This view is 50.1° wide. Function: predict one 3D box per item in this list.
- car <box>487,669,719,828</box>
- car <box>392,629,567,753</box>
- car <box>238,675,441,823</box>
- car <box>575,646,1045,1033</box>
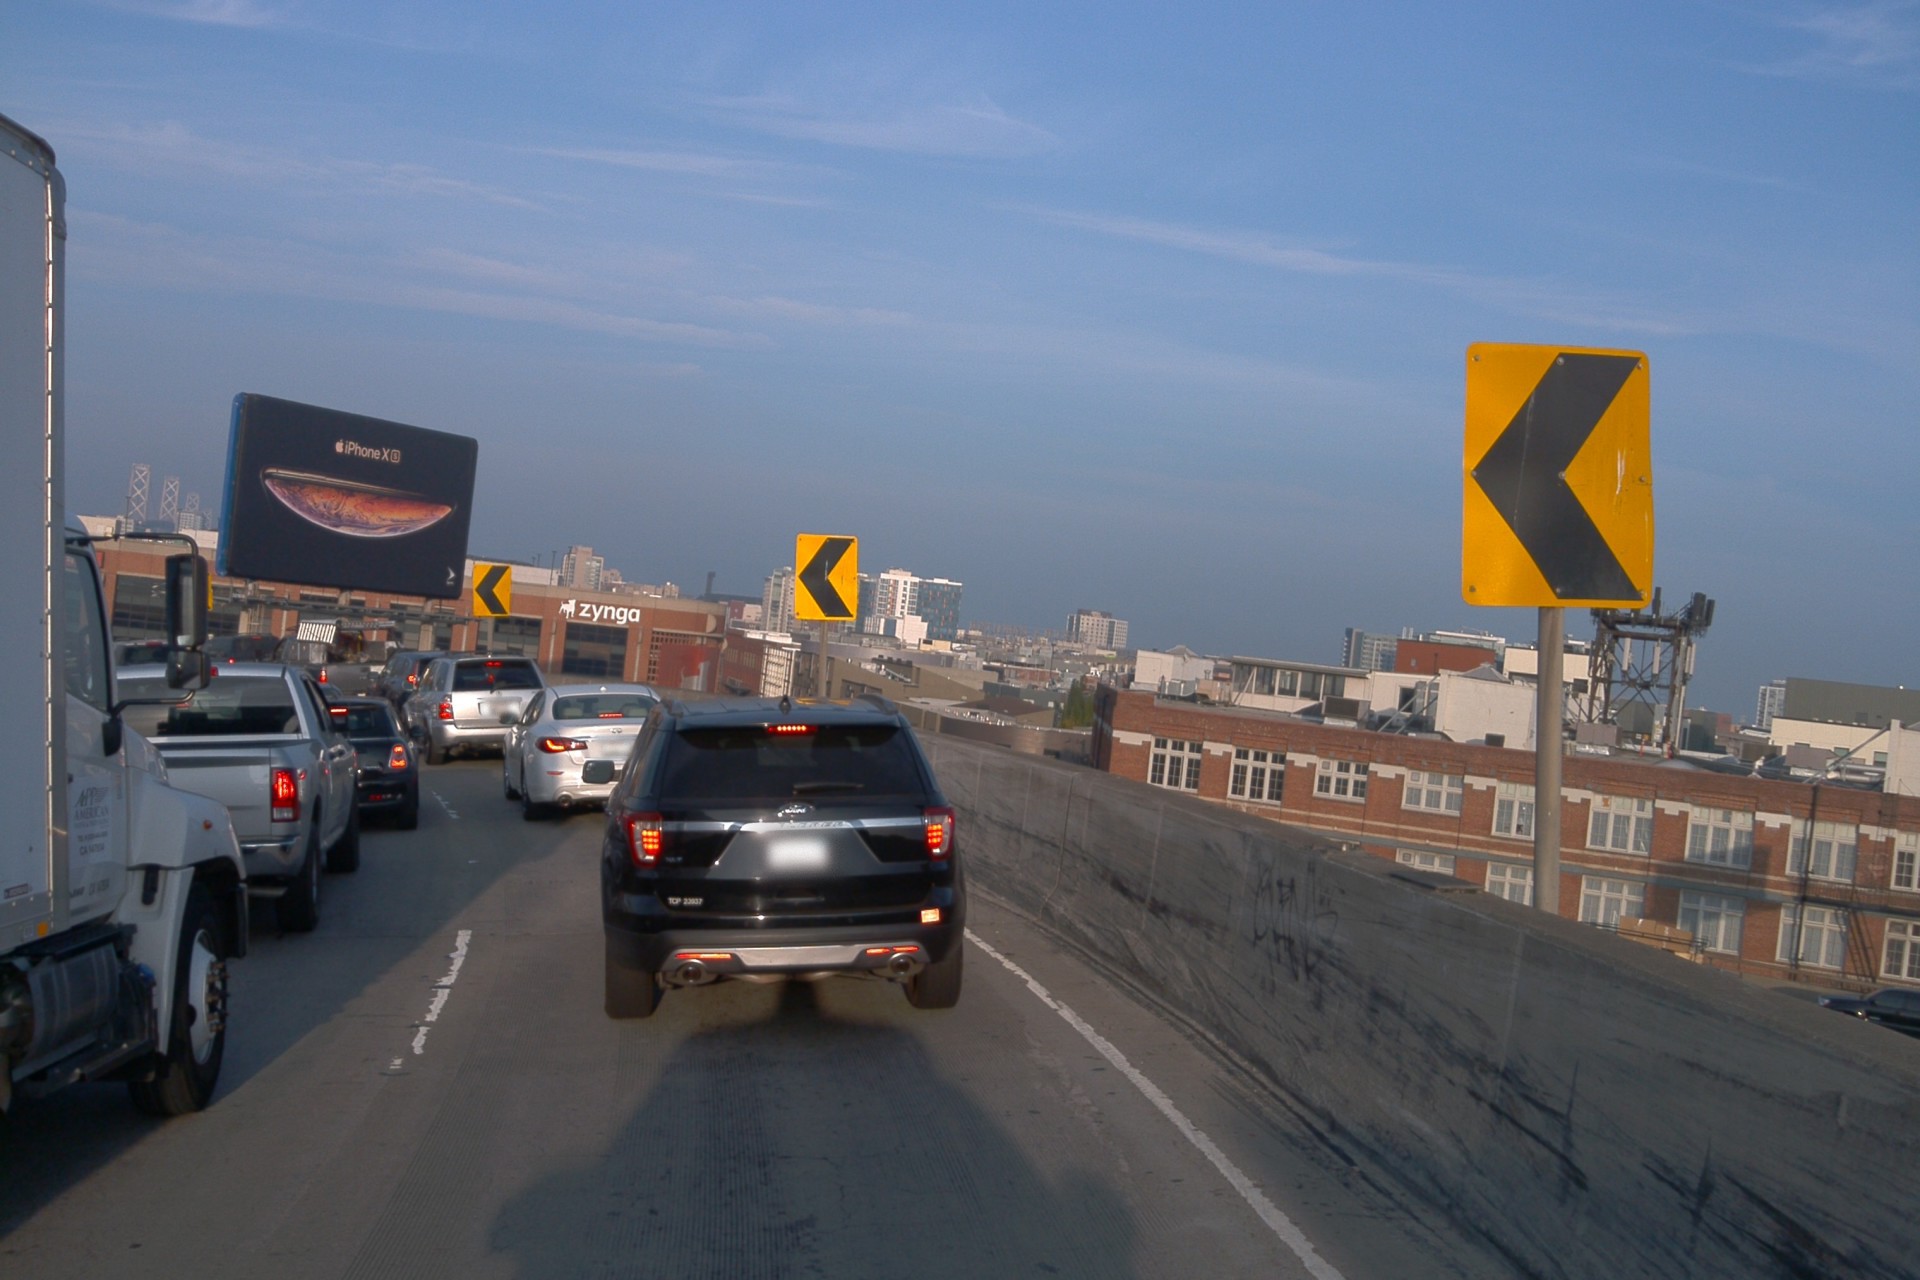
[{"bbox_3d":[-4.285,1.178,24.066,2.144,1.590,4.509,0,0,-17],"label":"car"},{"bbox_3d":[-7.760,0.754,32.844,1.992,1.820,4.393,0,0,-23],"label":"car"},{"bbox_3d":[-6.854,1.141,23.027,1.934,1.411,4.084,0,0,-13],"label":"car"},{"bbox_3d":[-1.173,0.983,12.630,2.327,1.850,4.876,0,0,-11],"label":"car"}]
